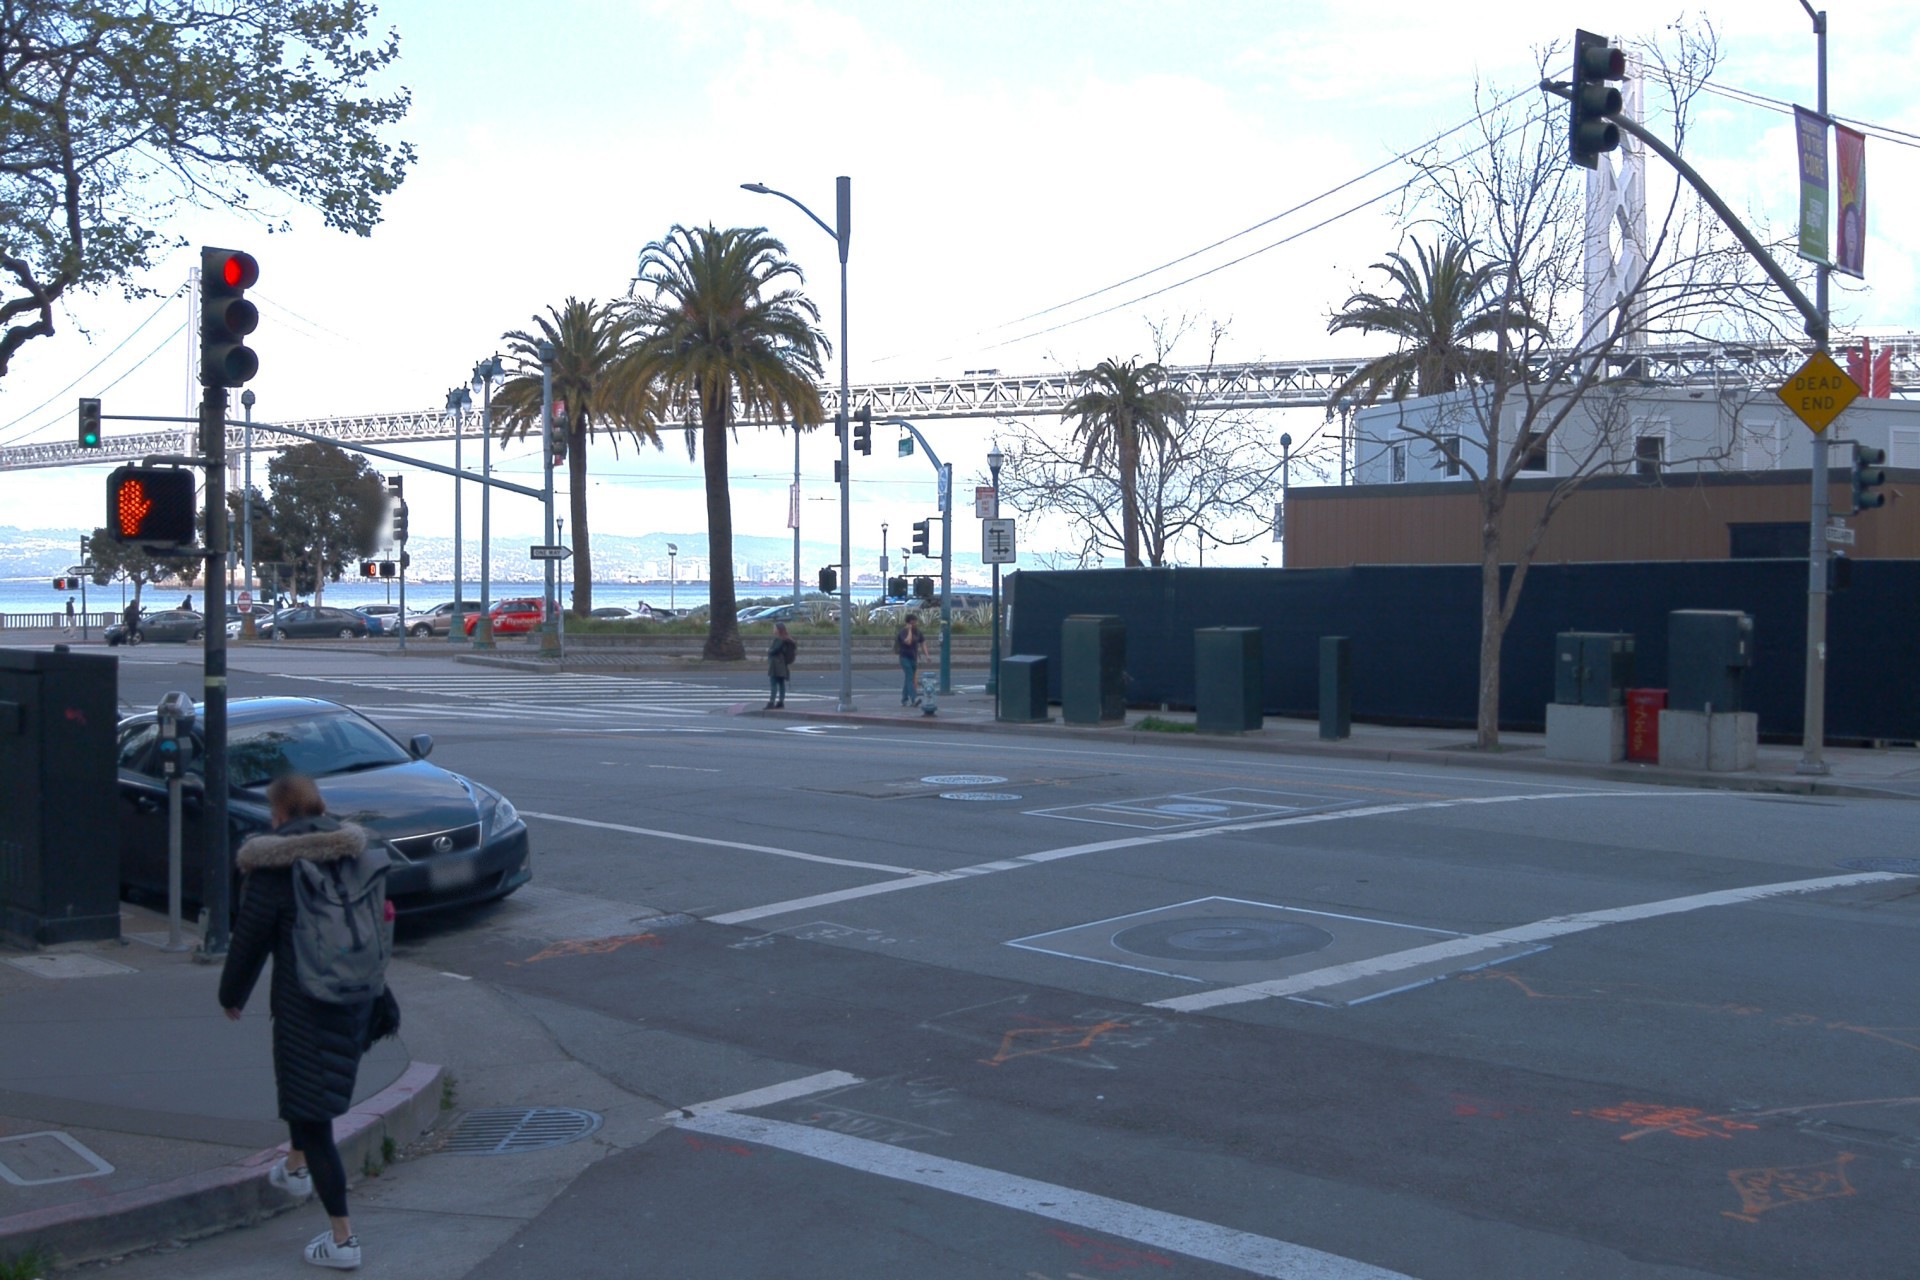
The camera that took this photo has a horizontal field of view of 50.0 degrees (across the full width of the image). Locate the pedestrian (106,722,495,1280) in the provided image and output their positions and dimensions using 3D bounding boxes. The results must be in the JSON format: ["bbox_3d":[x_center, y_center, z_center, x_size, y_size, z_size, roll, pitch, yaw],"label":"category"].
[{"bbox_3d":[-2.206,1.216,6.856,1.089,1.810,0.805,1,1,43],"label":"pedestrian"}]

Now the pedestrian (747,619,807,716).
[{"bbox_3d":[-3.420,0.499,38.456,0.841,1.790,0.831,0,1,-30],"label":"pedestrian"}]

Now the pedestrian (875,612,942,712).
[{"bbox_3d":[-0.971,0.392,38.389,0.792,1.820,1.064,-1,1,-35],"label":"pedestrian"}]
